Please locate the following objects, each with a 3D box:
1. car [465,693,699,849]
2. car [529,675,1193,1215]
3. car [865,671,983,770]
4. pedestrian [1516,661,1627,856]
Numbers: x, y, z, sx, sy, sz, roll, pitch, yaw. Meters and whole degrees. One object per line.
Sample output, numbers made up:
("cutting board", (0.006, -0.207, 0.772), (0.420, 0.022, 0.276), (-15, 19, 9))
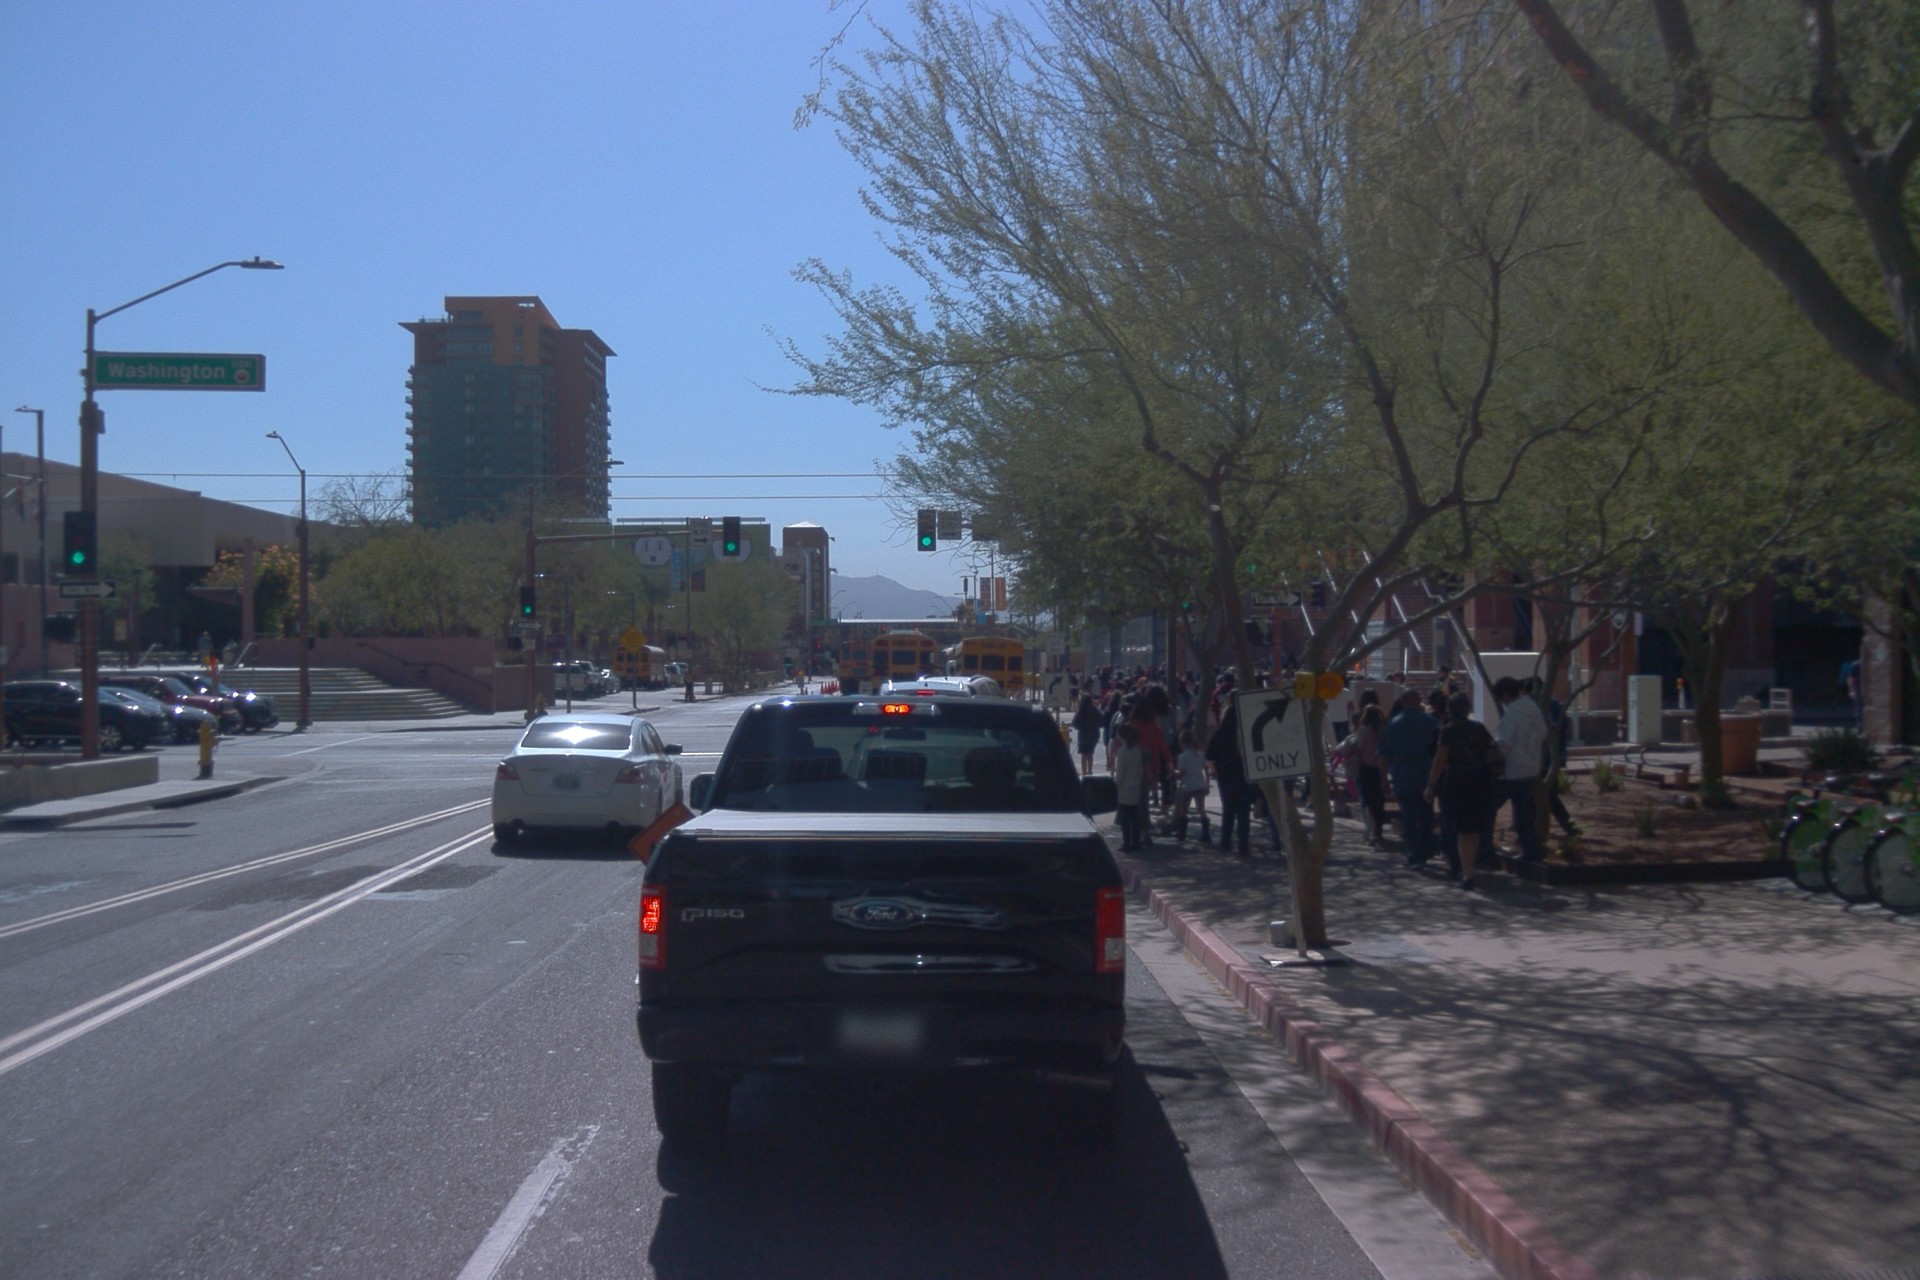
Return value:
("car", (-4.346, 1.464, 24.682), (2.094, 1.570, 4.889), (0, 0, -3))
("car", (-0.356, 1.191, 10.477), (2.486, 1.950, 5.329), (0, 0, 0))
("car", (-0.515, 1.228, 33.160), (1.753, 1.430, 4.270), (0, 0, 1))
("pedestrian", (6.030, 1.151, 20.550), (0.835, 1.880, 0.792), (0, 0, -2))
